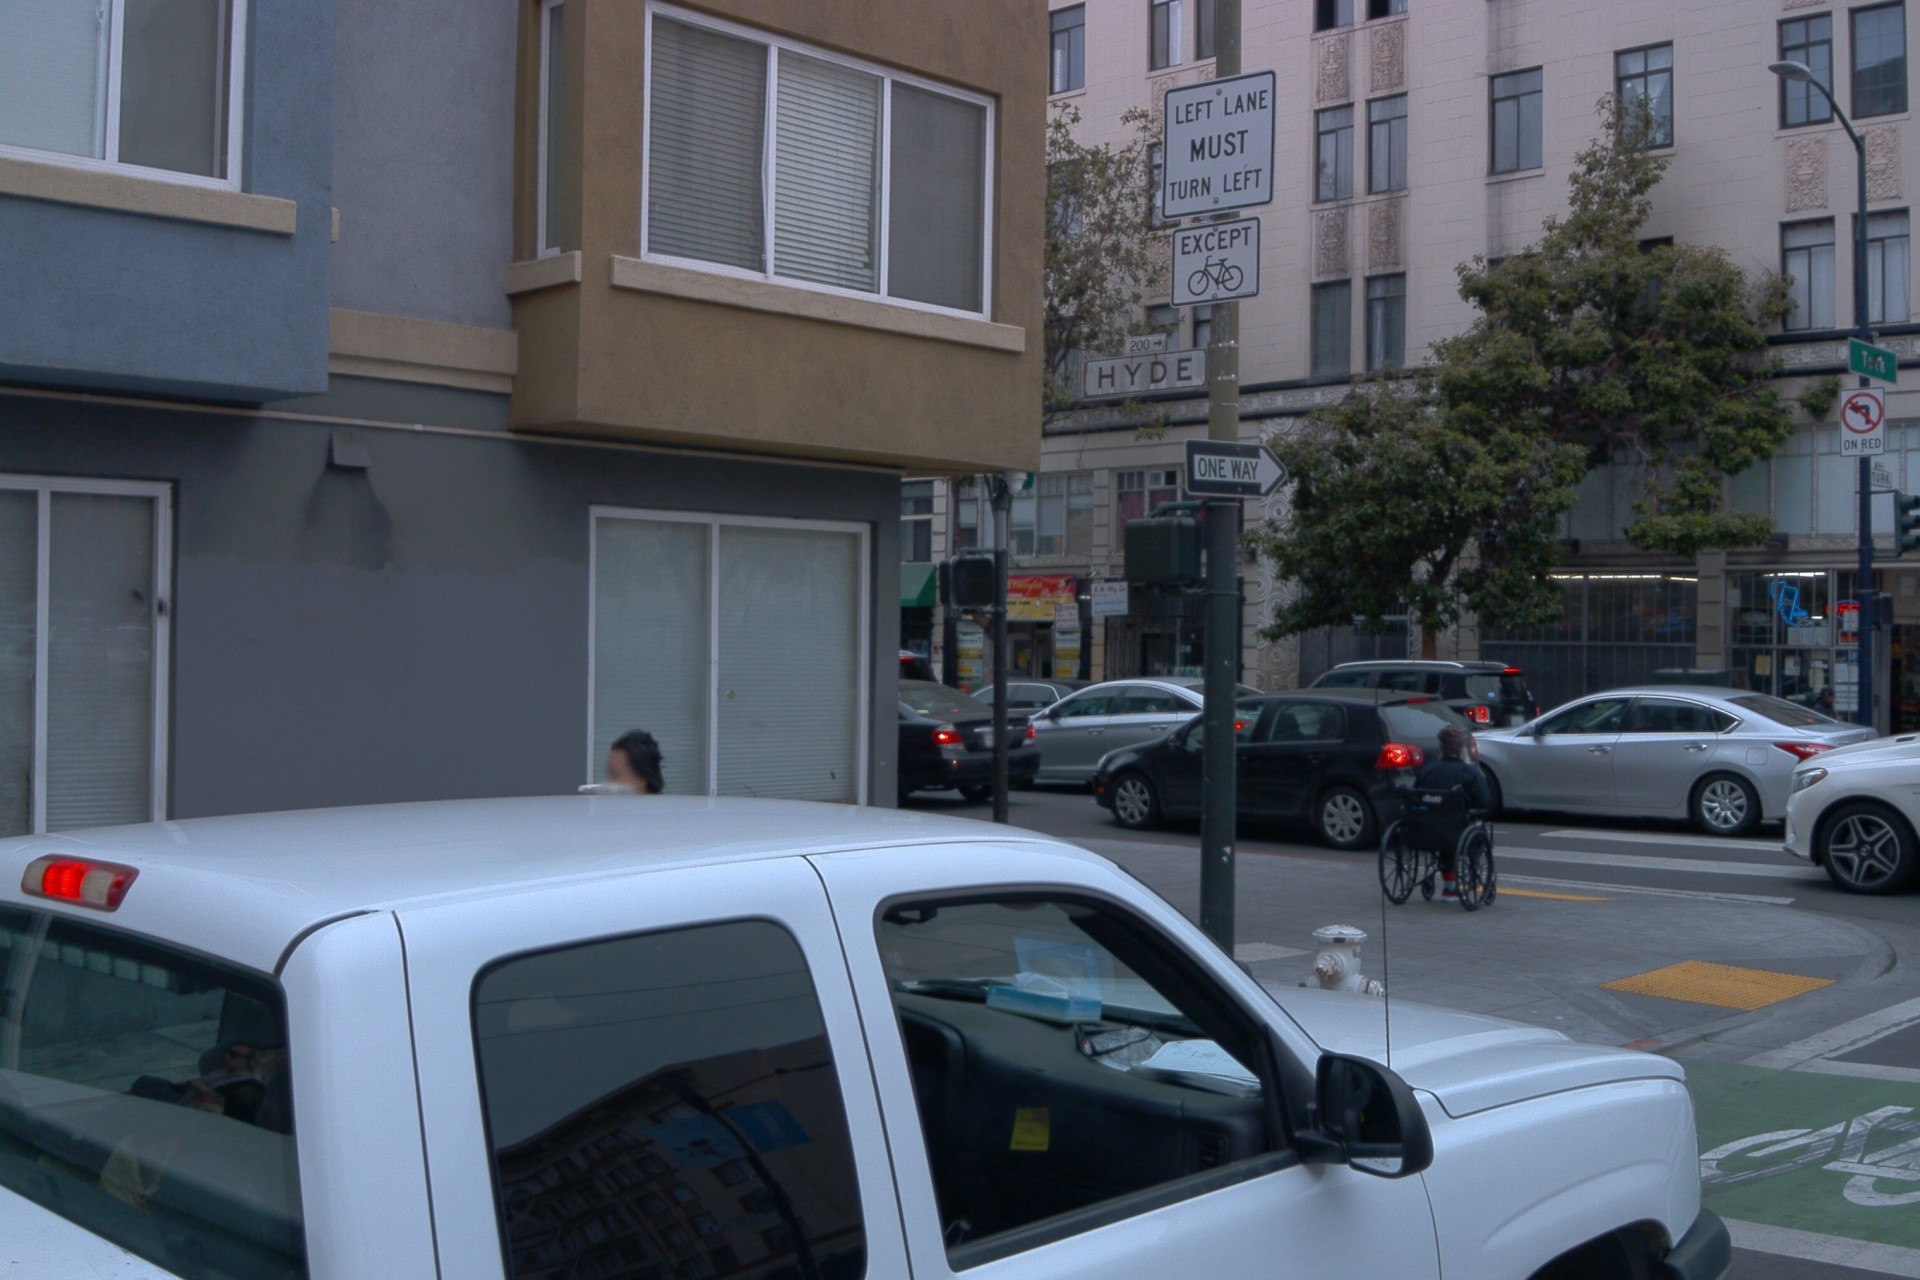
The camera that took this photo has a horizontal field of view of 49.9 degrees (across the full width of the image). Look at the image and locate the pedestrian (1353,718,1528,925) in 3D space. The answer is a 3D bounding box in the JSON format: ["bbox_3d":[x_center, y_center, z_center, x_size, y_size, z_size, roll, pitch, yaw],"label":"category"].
[{"bbox_3d":[3.503,1.286,15.017,0.883,1.370,1.026,1,1,38],"label":"pedestrian"}]

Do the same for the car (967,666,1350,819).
[{"bbox_3d":[2.396,1.201,25.835,1.939,1.600,4.599,-1,1,-44],"label":"car"}]

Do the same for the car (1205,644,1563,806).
[{"bbox_3d":[5.495,1.034,27.097,1.925,1.870,4.231,-1,1,-45],"label":"car"}]

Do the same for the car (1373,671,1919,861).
[{"bbox_3d":[6.895,1.181,21.168,2.056,1.550,4.910,-1,1,-44],"label":"car"}]

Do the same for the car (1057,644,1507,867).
[{"bbox_3d":[3.170,1.055,20.895,4.194,1.950,1.871,1,1,45],"label":"car"}]

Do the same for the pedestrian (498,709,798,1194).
[{"bbox_3d":[-1.286,1.191,8.356,1.097,1.760,0.984,0,1,-15],"label":"pedestrian"}]

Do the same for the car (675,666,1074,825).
[{"bbox_3d":[-1.122,1.191,25.070,4.803,1.600,2.070,1,1,43],"label":"car"}]
